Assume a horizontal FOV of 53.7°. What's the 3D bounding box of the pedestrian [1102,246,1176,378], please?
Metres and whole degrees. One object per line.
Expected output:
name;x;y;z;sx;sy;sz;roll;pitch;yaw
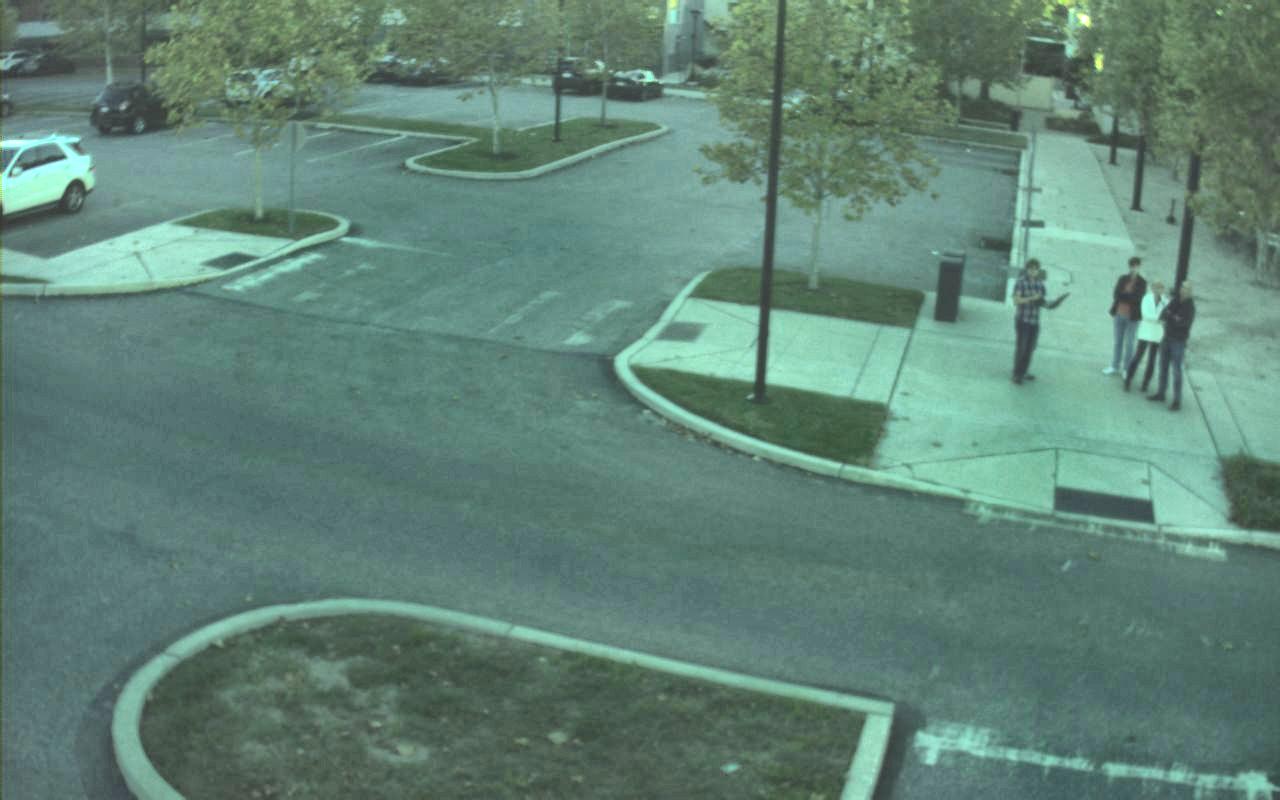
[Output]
pedestrian;7.581;-1.316;17.967;0.796;1.805;0.769;-11;18;-33

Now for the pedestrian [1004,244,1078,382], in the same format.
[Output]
pedestrian;5.730;-1.242;17.348;0.769;1.829;0.784;-2;15;-3

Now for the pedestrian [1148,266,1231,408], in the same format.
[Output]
pedestrian;7.842;-0.875;16.621;0.809;1.826;0.803;-7;16;-21

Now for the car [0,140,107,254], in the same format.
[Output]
car;-13.905;-4.433;24.421;1.992;1.776;4.679;4;17;16
